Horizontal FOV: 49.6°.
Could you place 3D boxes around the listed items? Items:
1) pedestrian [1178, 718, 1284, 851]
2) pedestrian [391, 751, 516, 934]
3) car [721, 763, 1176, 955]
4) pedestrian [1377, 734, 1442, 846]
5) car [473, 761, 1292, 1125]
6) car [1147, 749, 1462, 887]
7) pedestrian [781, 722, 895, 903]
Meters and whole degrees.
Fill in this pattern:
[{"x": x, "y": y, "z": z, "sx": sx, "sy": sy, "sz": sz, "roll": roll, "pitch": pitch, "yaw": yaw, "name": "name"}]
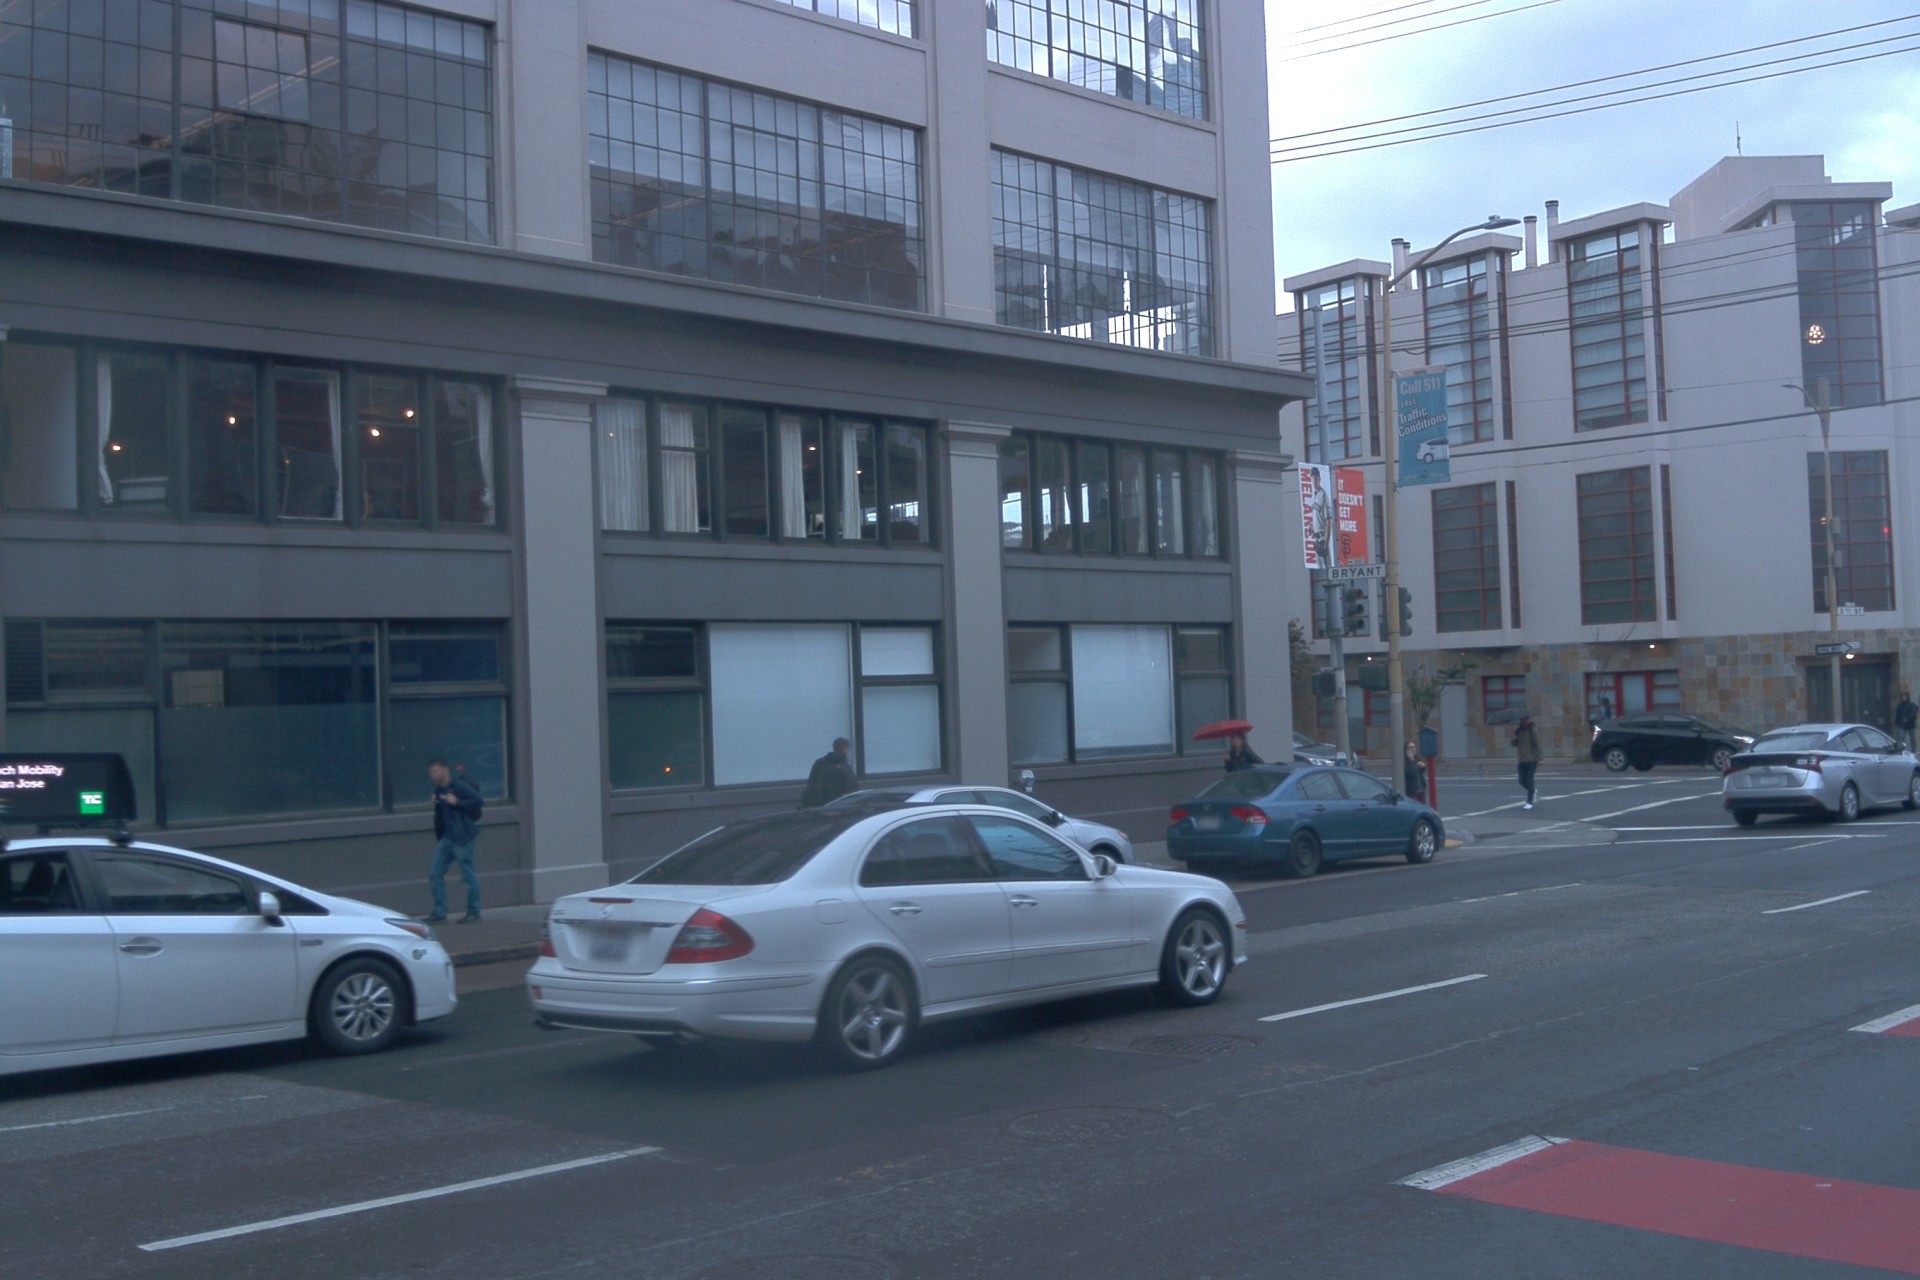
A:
[{"x": 4.102, "y": 2.165, "z": 31.490, "sx": 1.124, "sy": 1.900, "sz": 1.157, "roll": 0, "pitch": 0, "yaw": 45, "name": "pedestrian"}, {"x": -5.242, "y": 2.071, "z": 21.539, "sx": 0.826, "sy": 1.770, "sz": 0.960, "roll": 0, "pitch": 0, "yaw": 45, "name": "pedestrian"}, {"x": -0.009, "y": 2.274, "z": 22.666, "sx": 2.014, "sy": 1.570, "sz": 4.989, "roll": 0, "pitch": 0, "yaw": 45, "name": "car"}, {"x": 6.937, "y": 2.304, "z": 32.098, "sx": 0.825, "sy": 1.670, "sz": 0.591, "roll": 0, "pitch": 0, "yaw": -34, "name": "pedestrian"}, {"x": -0.272, "y": 1.669, "z": 12.982, "sx": 2.136, "sy": 1.530, "sz": 5.039, "roll": 0, "pitch": 0, "yaw": 44, "name": "car"}, {"x": 4.620, "y": 2.281, "z": 27.470, "sx": 1.913, "sy": 1.440, "sz": 4.430, "roll": 0, "pitch": 0, "yaw": 44, "name": "car"}, {"x": -1.413, "y": 1.974, "z": 24.134, "sx": 0.909, "sy": 1.990, "sz": 0.967, "roll": 0, "pitch": 0, "yaw": 36, "name": "pedestrian"}]
